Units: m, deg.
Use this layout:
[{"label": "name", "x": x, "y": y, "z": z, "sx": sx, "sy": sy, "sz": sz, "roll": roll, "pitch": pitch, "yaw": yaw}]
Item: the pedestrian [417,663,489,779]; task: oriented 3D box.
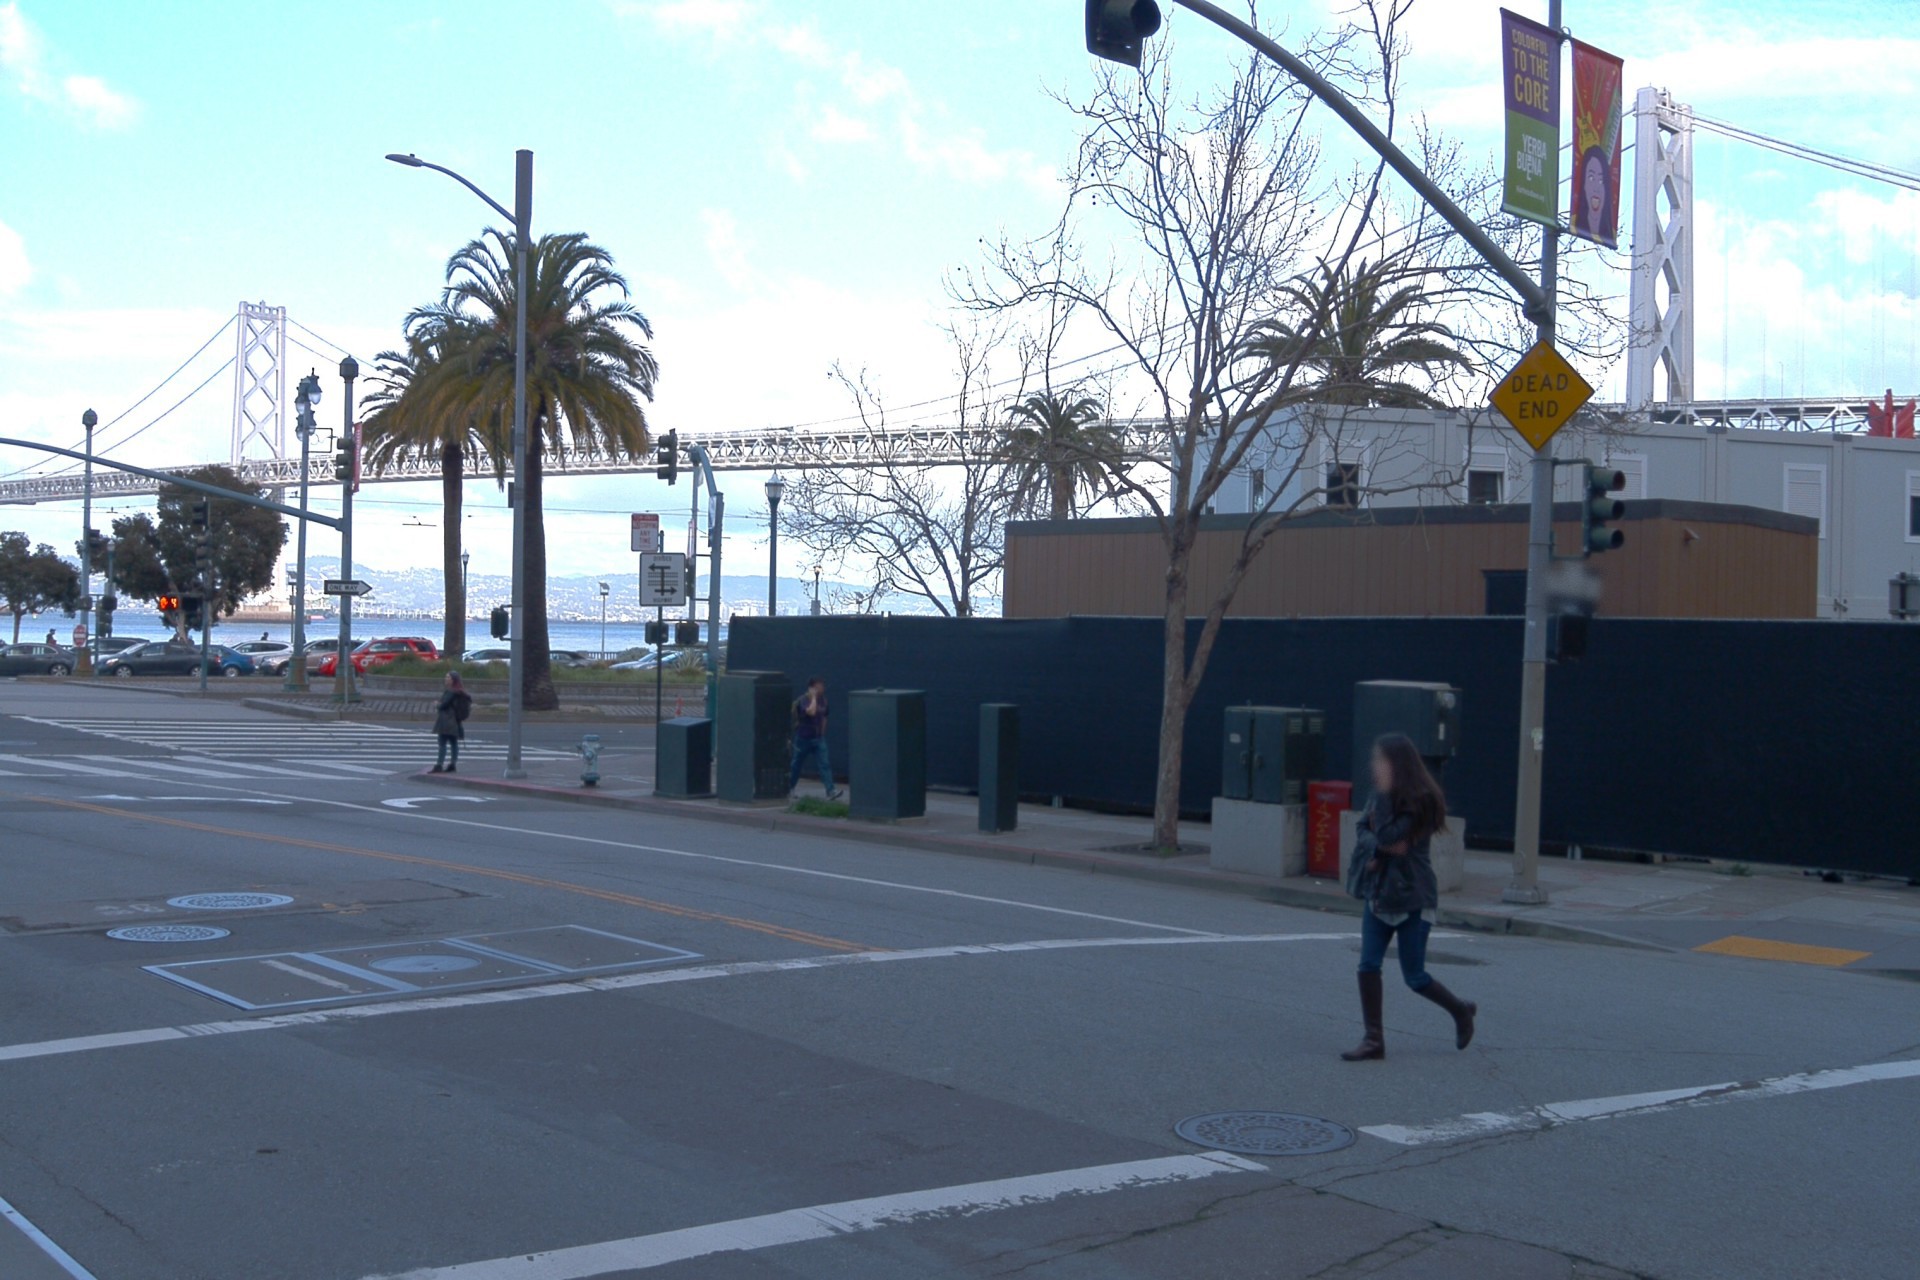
[{"label": "pedestrian", "x": -8.098, "y": 1.280, "z": 32.821, "sx": 0.841, "sy": 1.790, "sz": 0.831, "roll": -1, "pitch": 1, "yaw": -39}]

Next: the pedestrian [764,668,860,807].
[{"label": "pedestrian", "x": -2.025, "y": 1.310, "z": 28.120, "sx": 1.064, "sy": 1.820, "sz": 0.792, "roll": 1, "pitch": 2, "yaw": 44}]

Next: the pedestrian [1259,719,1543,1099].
[{"label": "pedestrian", "x": 2.203, "y": 1.291, "z": 10.302, "sx": 1.092, "sy": 1.720, "sz": 0.848, "roll": 0, "pitch": 1, "yaw": -31}]
